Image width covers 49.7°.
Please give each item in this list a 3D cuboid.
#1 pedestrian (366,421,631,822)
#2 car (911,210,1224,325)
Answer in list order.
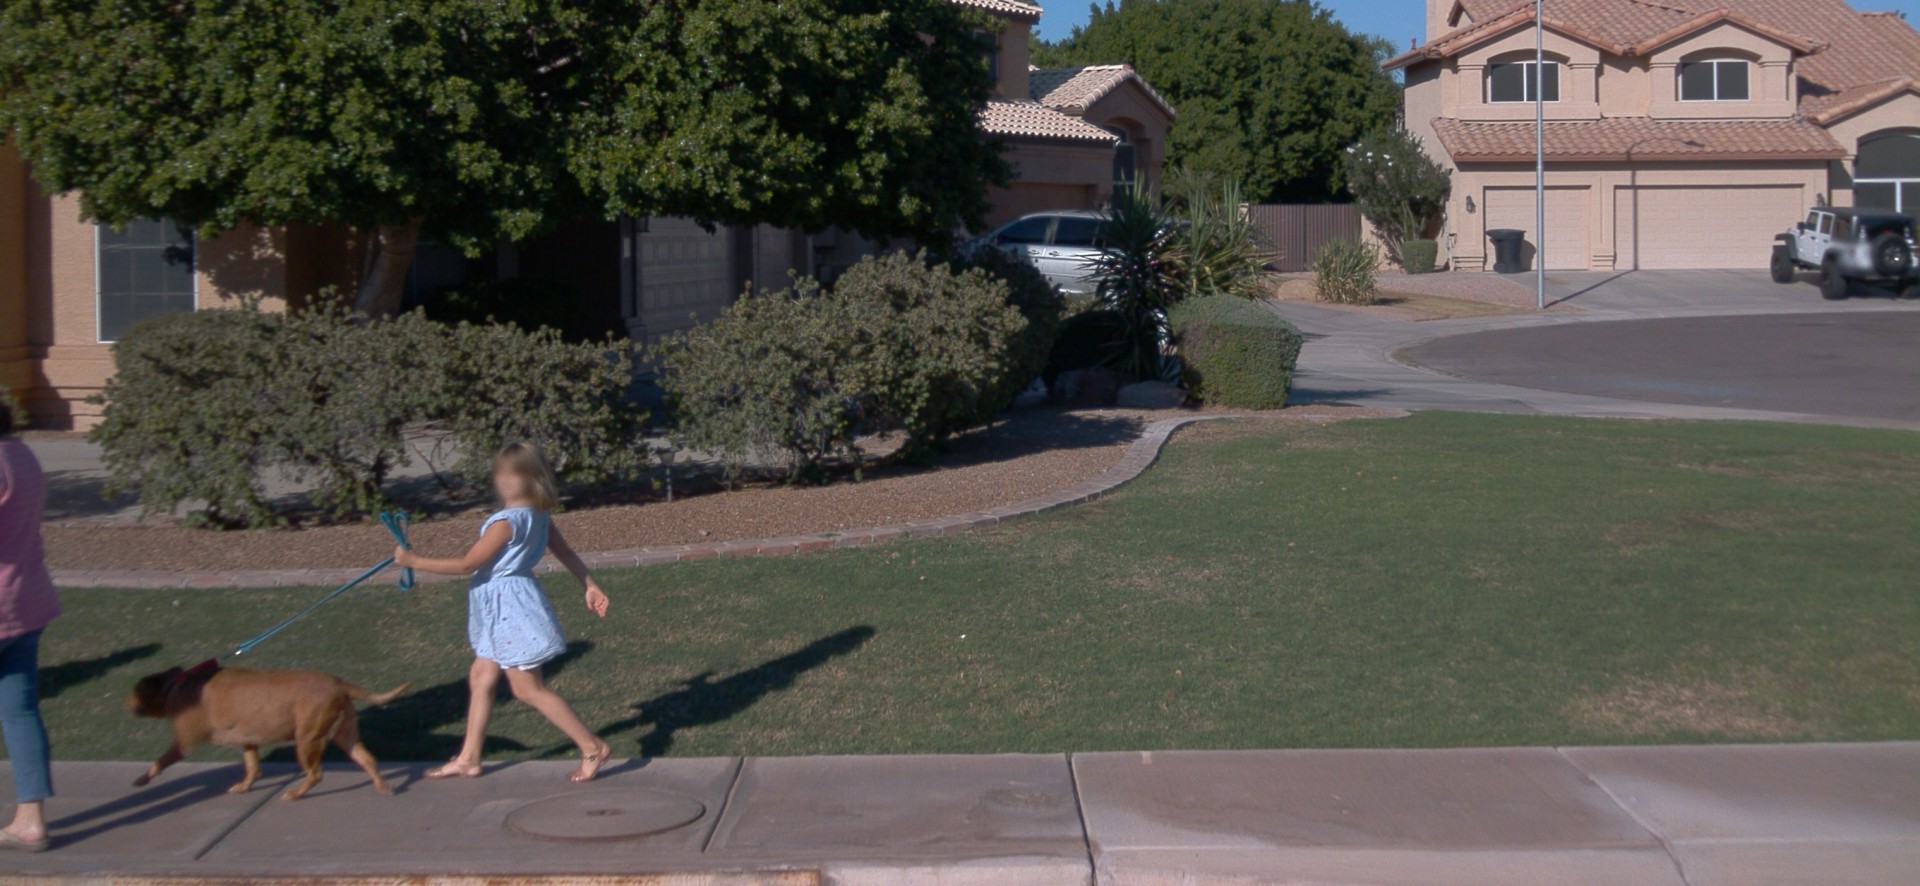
[{"bbox_3d":[-1.701,0.628,7.767,0.835,1.337,0.793,0,2,-3],"label":"pedestrian"},{"bbox_3d":[1.872,-3.147,36.579,5.038,1.893,2.276,3,5,32],"label":"car"}]
